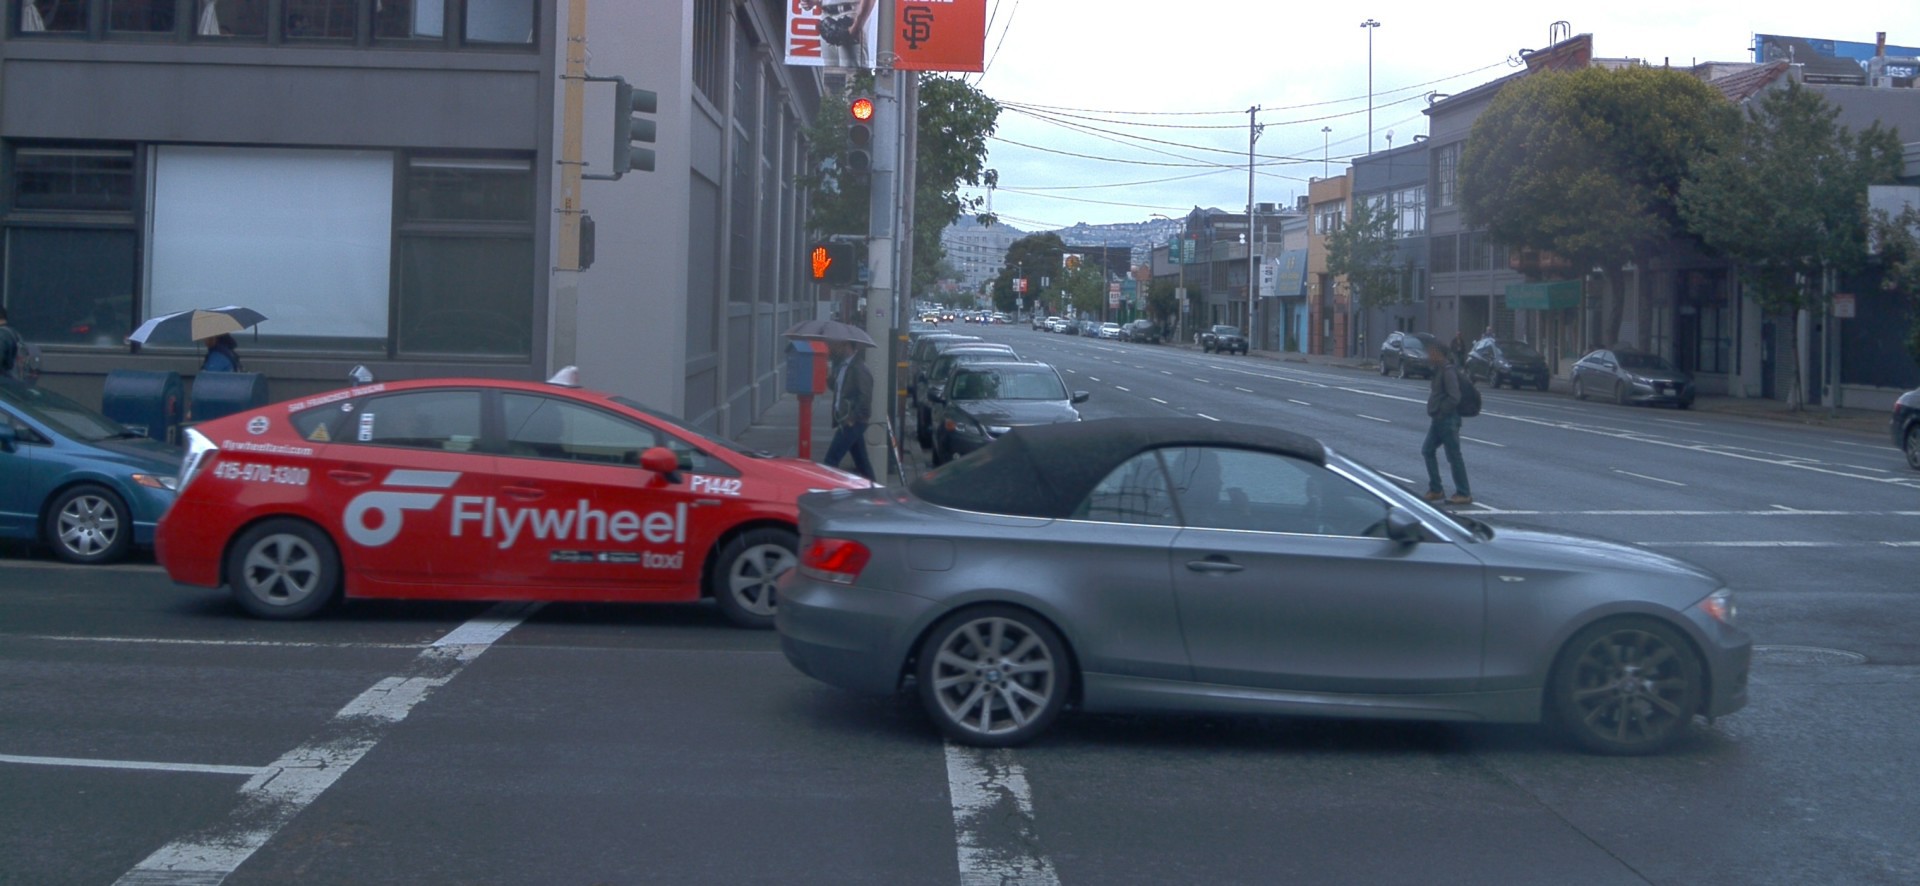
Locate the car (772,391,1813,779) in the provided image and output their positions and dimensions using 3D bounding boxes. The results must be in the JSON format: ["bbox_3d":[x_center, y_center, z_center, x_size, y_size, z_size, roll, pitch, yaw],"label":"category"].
[{"bbox_3d":[1.385,0.565,9.694,4.394,1.457,1.972,0,4,-2],"label":"car"}]

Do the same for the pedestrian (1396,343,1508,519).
[{"bbox_3d":[5.017,-0.147,21.232,1.015,1.679,1.004,0,2,7],"label":"pedestrian"}]

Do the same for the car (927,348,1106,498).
[{"bbox_3d":[0.615,-0.331,26.065,2.020,1.454,4.437,0,5,-1],"label":"car"}]

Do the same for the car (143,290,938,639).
[{"bbox_3d":[-2.430,0.042,12.963,4.530,1.917,2.093,0,3,-2],"label":"car"}]

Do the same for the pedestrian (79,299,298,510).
[{"bbox_3d":[-7.131,-0.394,19.270,1.572,1.829,1.365,0,2,-4],"label":"pedestrian"}]

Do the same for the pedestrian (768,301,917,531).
[{"bbox_3d":[-1.142,-0.296,19.871,1.285,2.082,1.184,0,2,-11],"label":"pedestrian"}]
